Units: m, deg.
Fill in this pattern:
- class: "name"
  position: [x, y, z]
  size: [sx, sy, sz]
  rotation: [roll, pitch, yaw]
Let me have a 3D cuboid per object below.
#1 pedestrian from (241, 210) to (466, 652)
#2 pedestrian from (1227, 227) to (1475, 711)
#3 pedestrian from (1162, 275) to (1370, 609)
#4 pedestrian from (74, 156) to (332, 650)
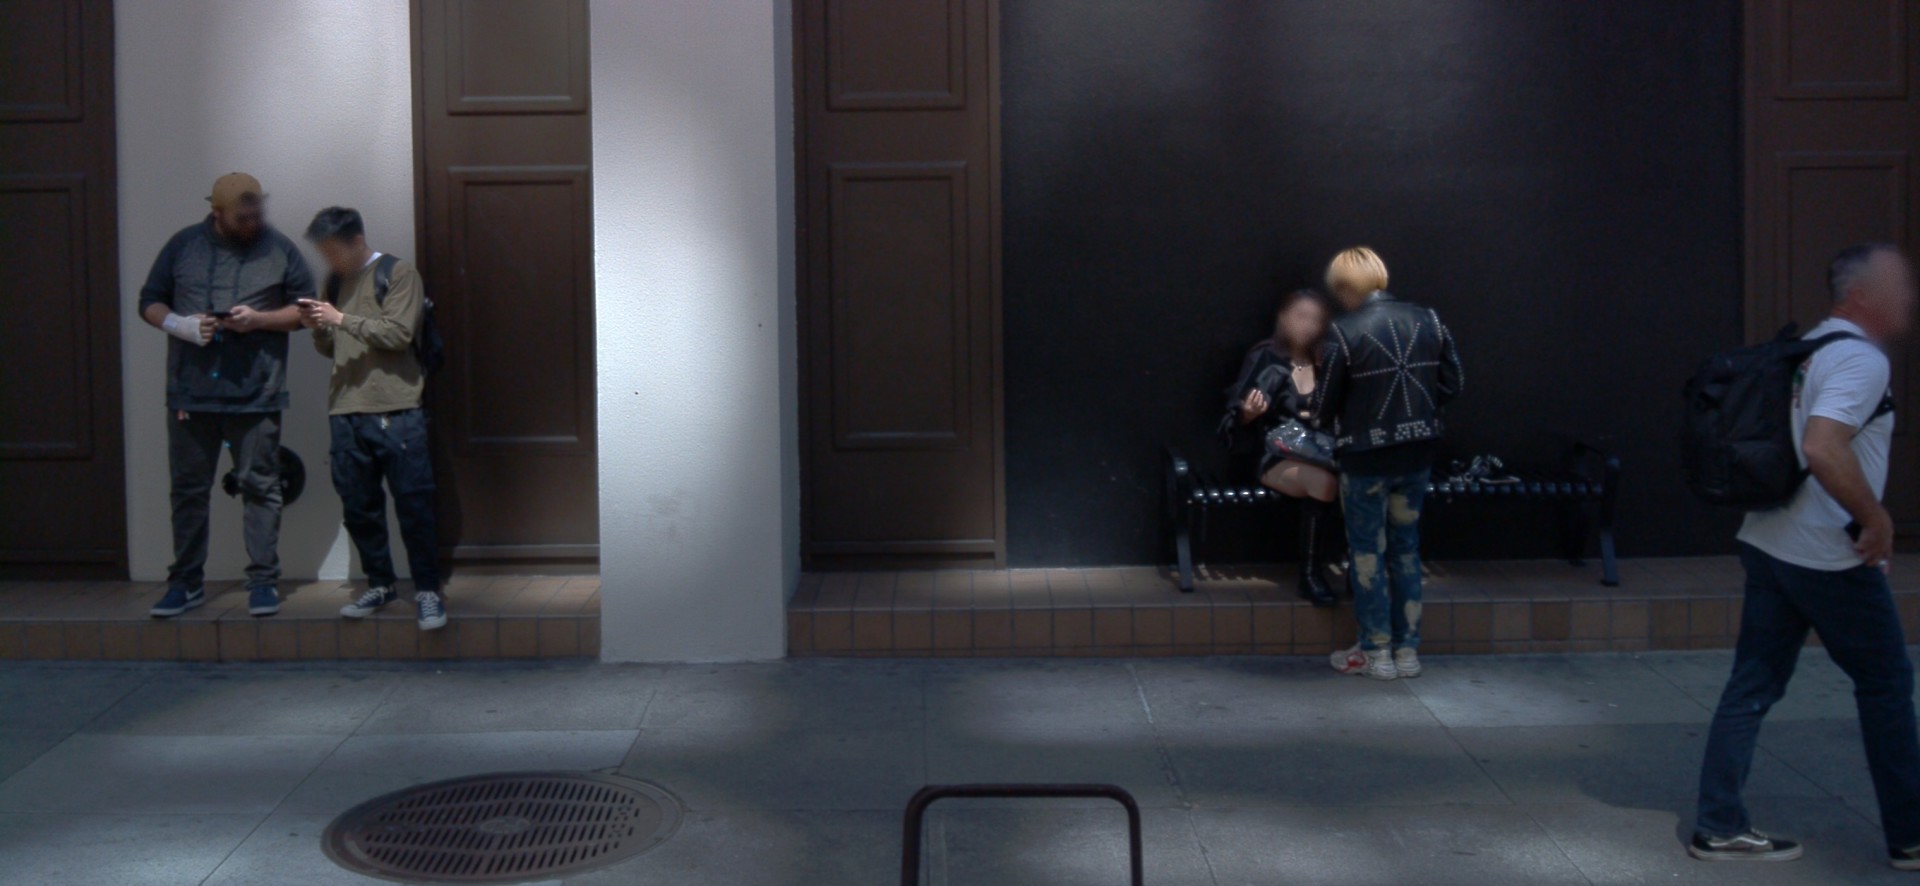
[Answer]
- class: "pedestrian"
  position: [-2.495, -0.091, 8.534]
  size: [0.697, 1.743, 0.833]
  rotation: [0, 1, -1]
- class: "pedestrian"
  position: [1.560, 0.048, 8.295]
  size: [0.671, 1.837, 0.858]
  rotation: [0, 1, -16]
- class: "pedestrian"
  position: [1.279, -0.039, 8.716]
  size: [0.743, 1.327, 0.839]
  rotation: [0, 2, -1]
- class: "pedestrian"
  position: [-3.121, -0.202, 8.548]
  size: [0.770, 1.952, 0.854]
  rotation: [0, 1, -1]
